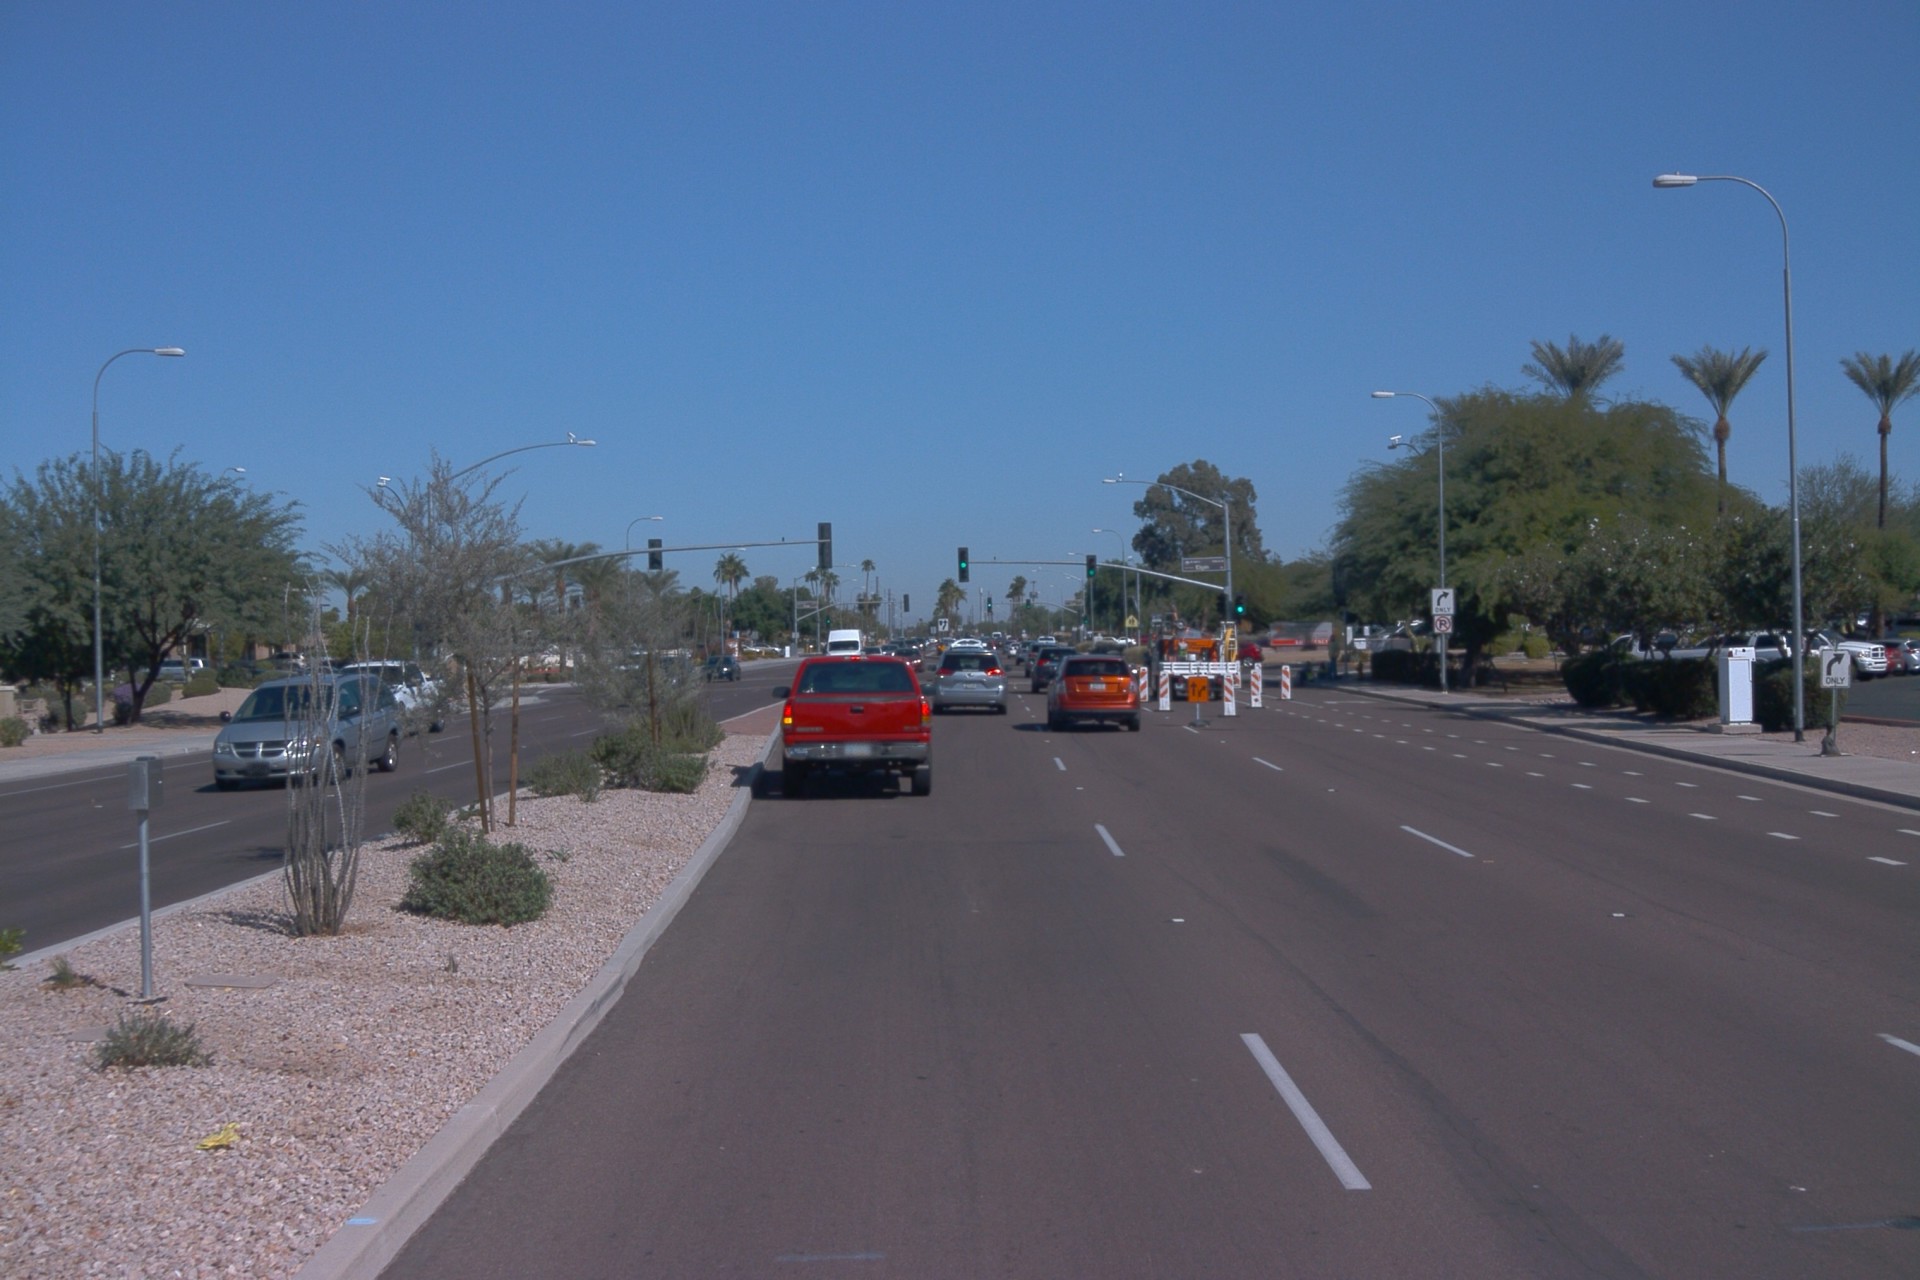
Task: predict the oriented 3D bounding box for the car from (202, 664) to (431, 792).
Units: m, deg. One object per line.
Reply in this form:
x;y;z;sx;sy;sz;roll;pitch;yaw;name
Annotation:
-10.580;1.385;34.471;2.255;1.930;4.961;0;0;0;car

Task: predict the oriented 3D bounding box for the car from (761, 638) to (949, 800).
-1.436;0.993;28.767;2.340;2.010;5.848;0;0;-2;car
